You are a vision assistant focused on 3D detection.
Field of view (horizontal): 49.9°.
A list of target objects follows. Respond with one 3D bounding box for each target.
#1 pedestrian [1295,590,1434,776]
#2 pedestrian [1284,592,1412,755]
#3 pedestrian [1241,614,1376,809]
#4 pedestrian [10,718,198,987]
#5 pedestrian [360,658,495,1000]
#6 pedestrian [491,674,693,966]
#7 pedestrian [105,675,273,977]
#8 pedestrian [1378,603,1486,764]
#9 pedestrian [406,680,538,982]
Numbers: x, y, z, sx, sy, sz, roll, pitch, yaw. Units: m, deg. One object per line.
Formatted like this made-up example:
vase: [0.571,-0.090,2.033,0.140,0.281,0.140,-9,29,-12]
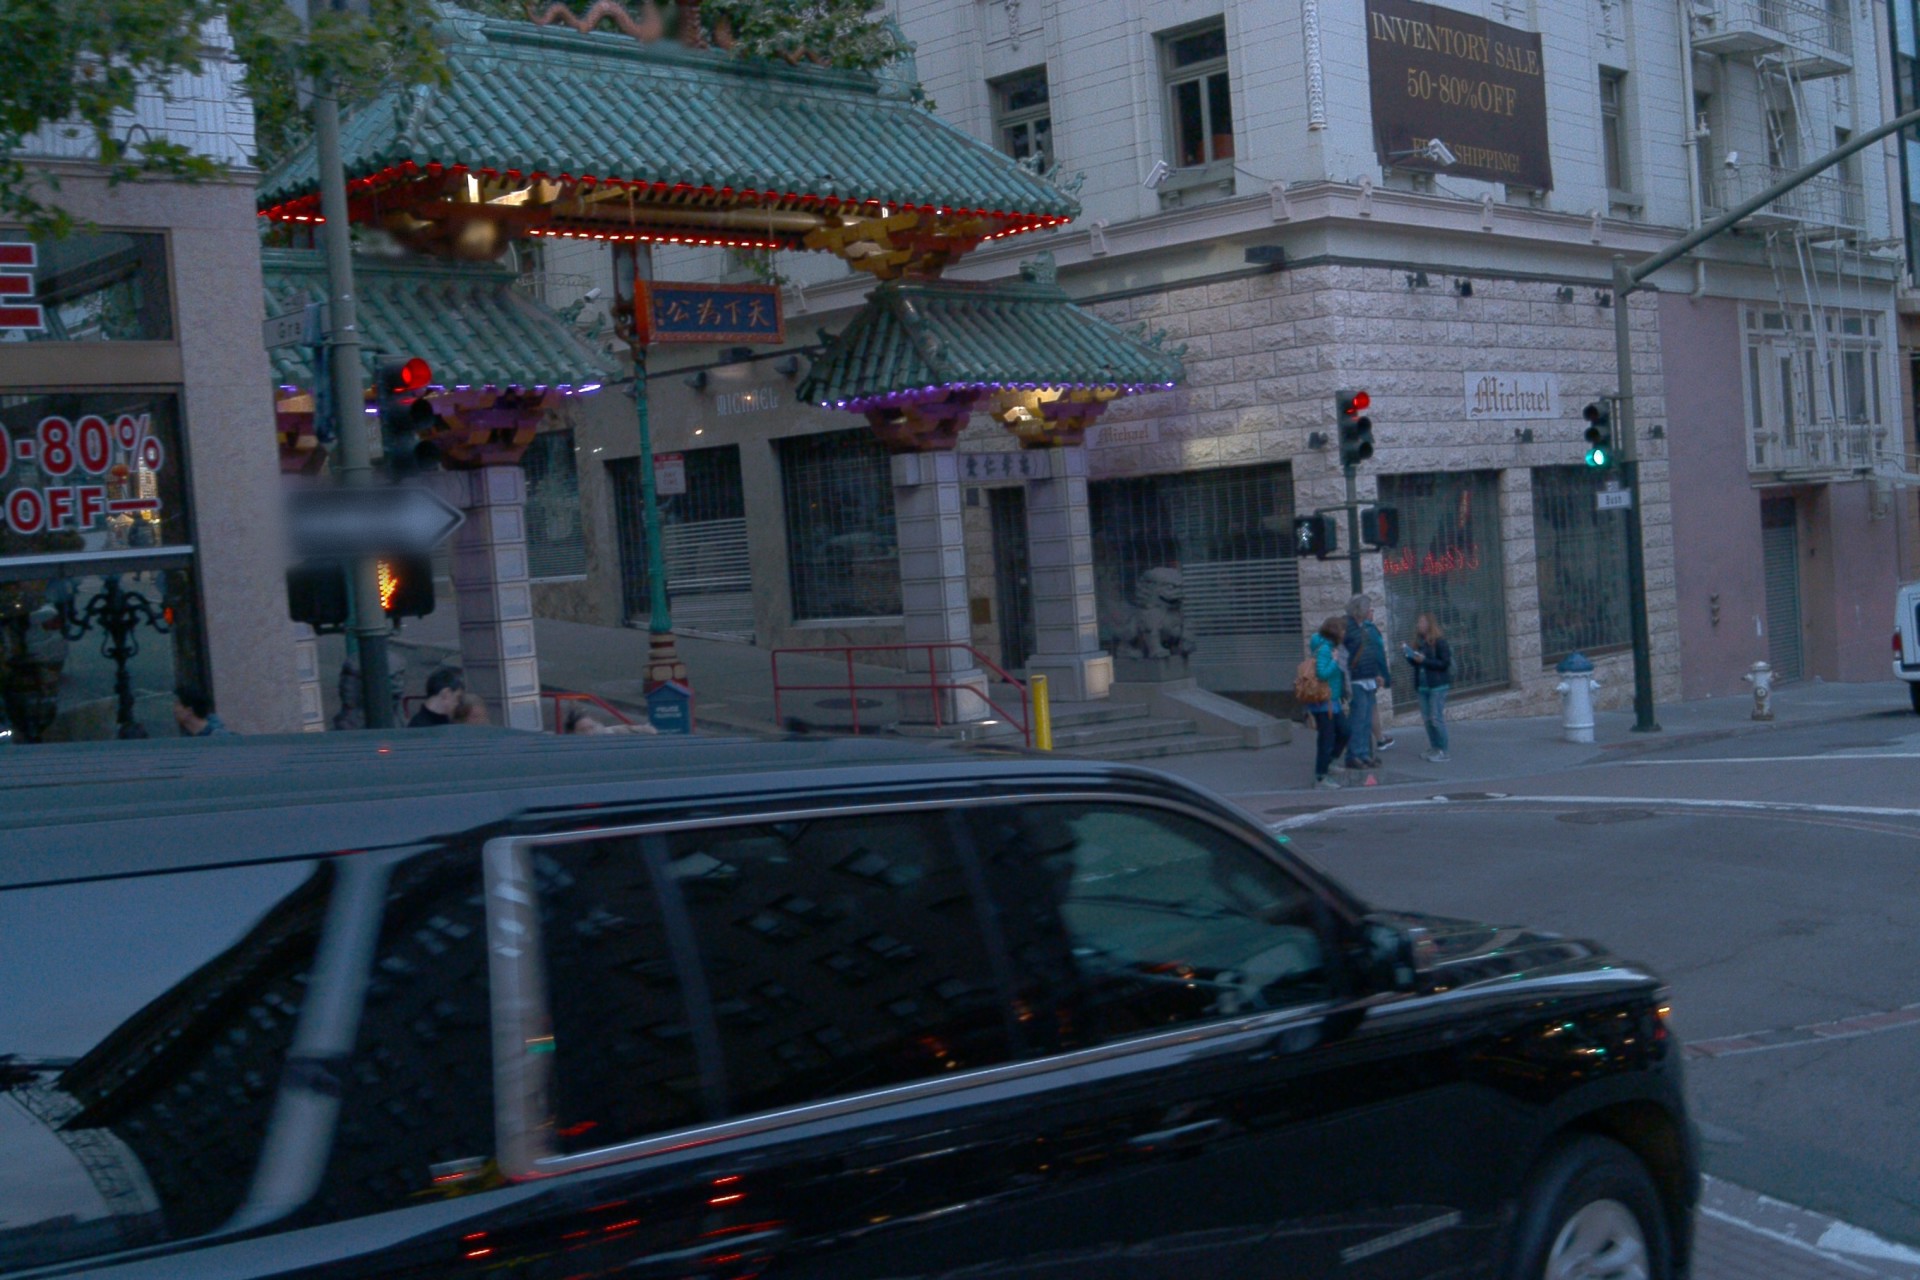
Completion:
pedestrian: [4.085,0.413,20.858,0.964,1.820,1.000,-1,1,-40]
pedestrian: [4.194,0.342,22.308,0.989,1.710,0.971,-1,1,-44]
pedestrian: [3.433,0.673,20.311,0.927,1.850,0.934,-1,1,-42]
pedestrian: [-5.385,1.308,13.001,0.787,1.580,0.745,0,1,25]
pedestrian: [-3.332,1.153,12.938,0.546,2.070,0.609,0,1,24]
pedestrian: [-2.532,1.196,14.242,0.817,1.880,1.093,1,1,42]
pedestrian: [-5.036,1.185,13.497,0.716,1.880,0.724,0,1,25]
pedestrian: [4.989,0.440,21.836,0.822,1.660,0.750,-1,1,-31]
pedestrian: [-3.178,1.213,13.444,0.531,1.880,0.638,1,1,40]
